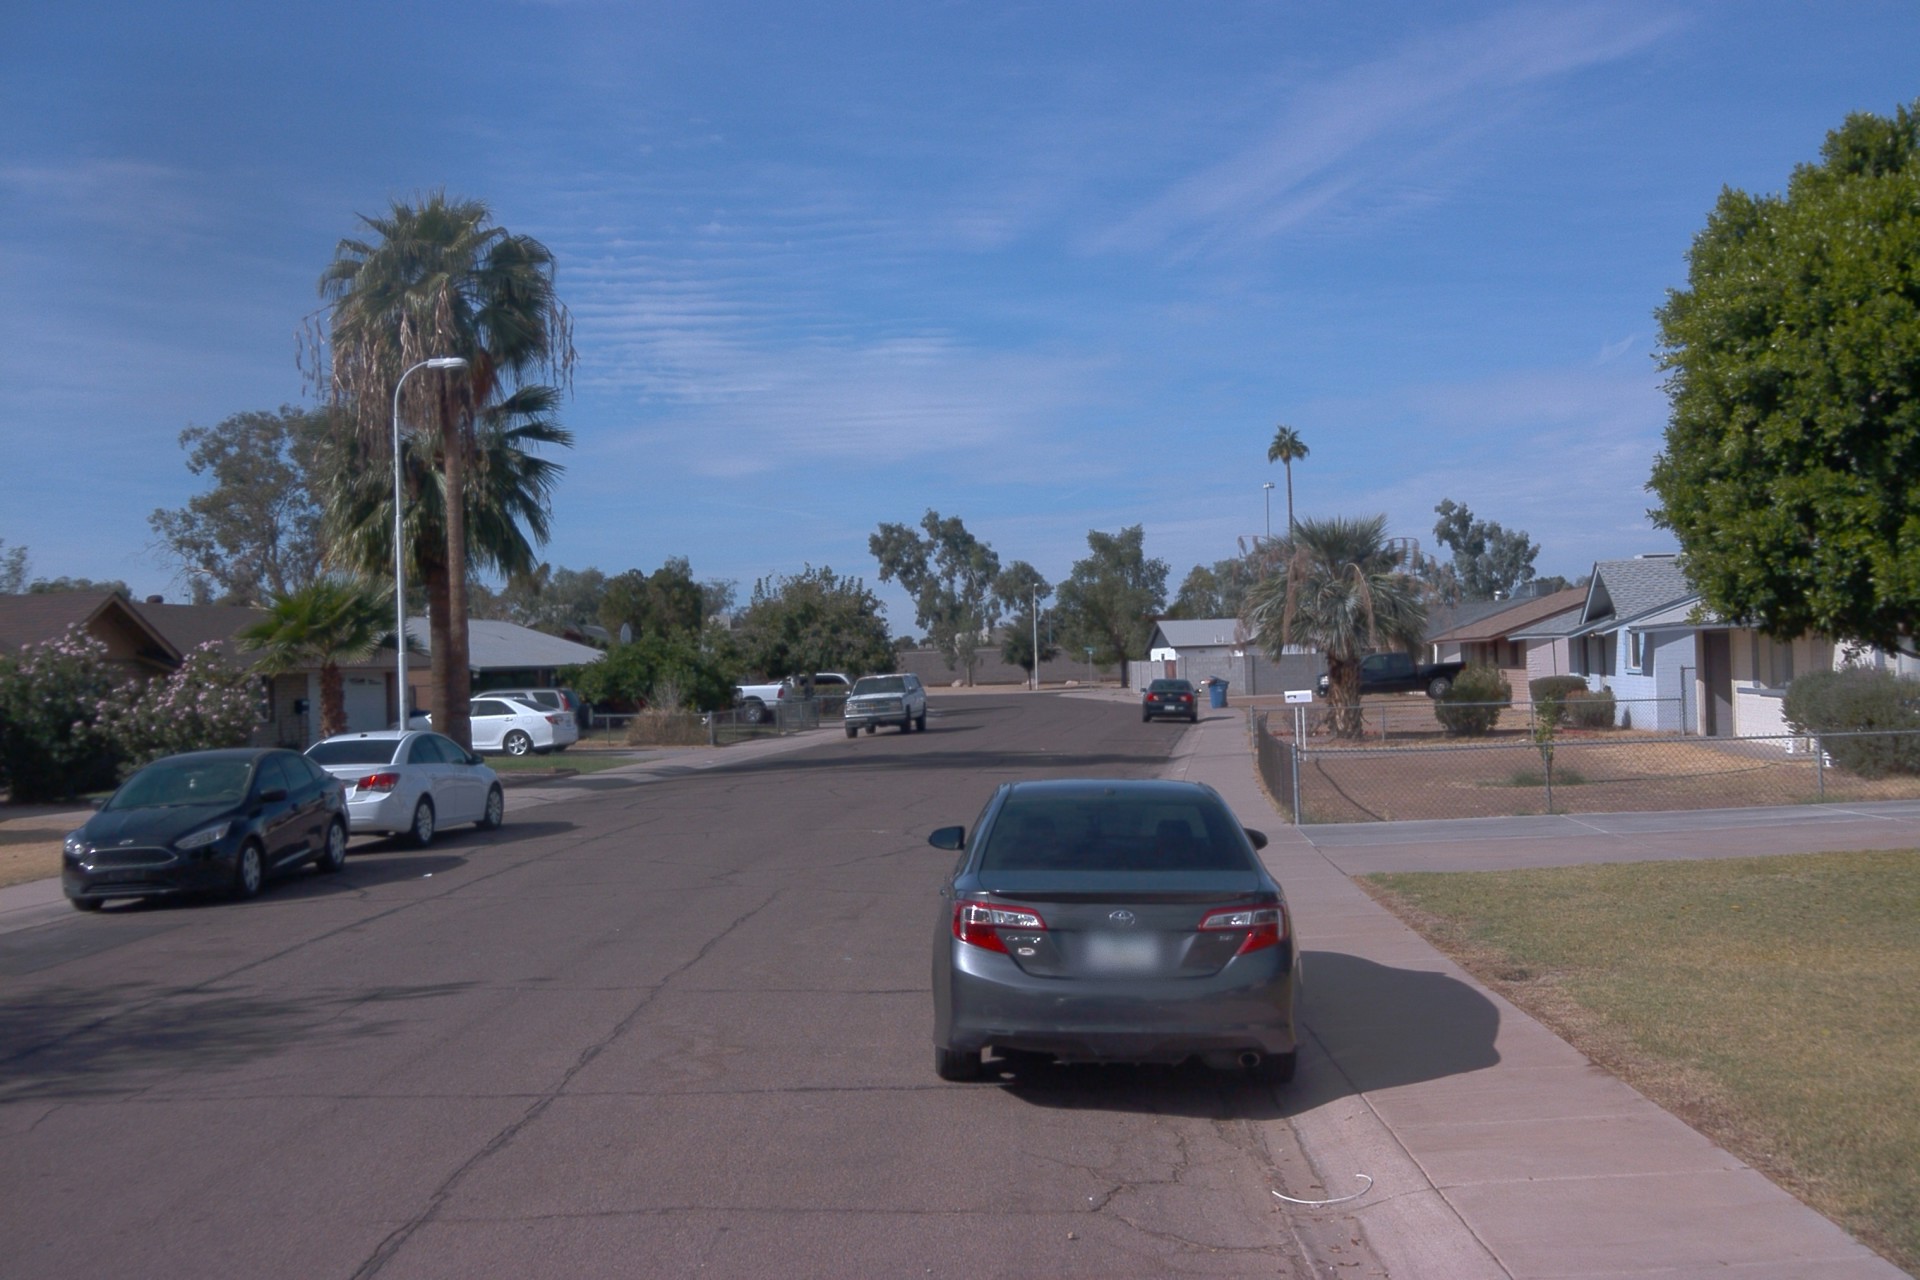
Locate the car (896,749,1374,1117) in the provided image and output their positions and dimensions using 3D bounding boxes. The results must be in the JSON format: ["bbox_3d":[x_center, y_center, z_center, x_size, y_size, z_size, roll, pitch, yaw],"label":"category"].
[{"bbox_3d":[0.814,1.452,11.891,2.150,1.470,5.012,0,-1,1],"label":"car"}]

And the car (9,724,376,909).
[{"bbox_3d":[-7.774,1.730,21.568,2.055,1.610,4.523,0,-1,1],"label":"car"}]

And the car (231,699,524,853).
[{"bbox_3d":[-7.465,1.693,27.158,2.079,1.770,4.631,0,-1,7],"label":"car"}]
